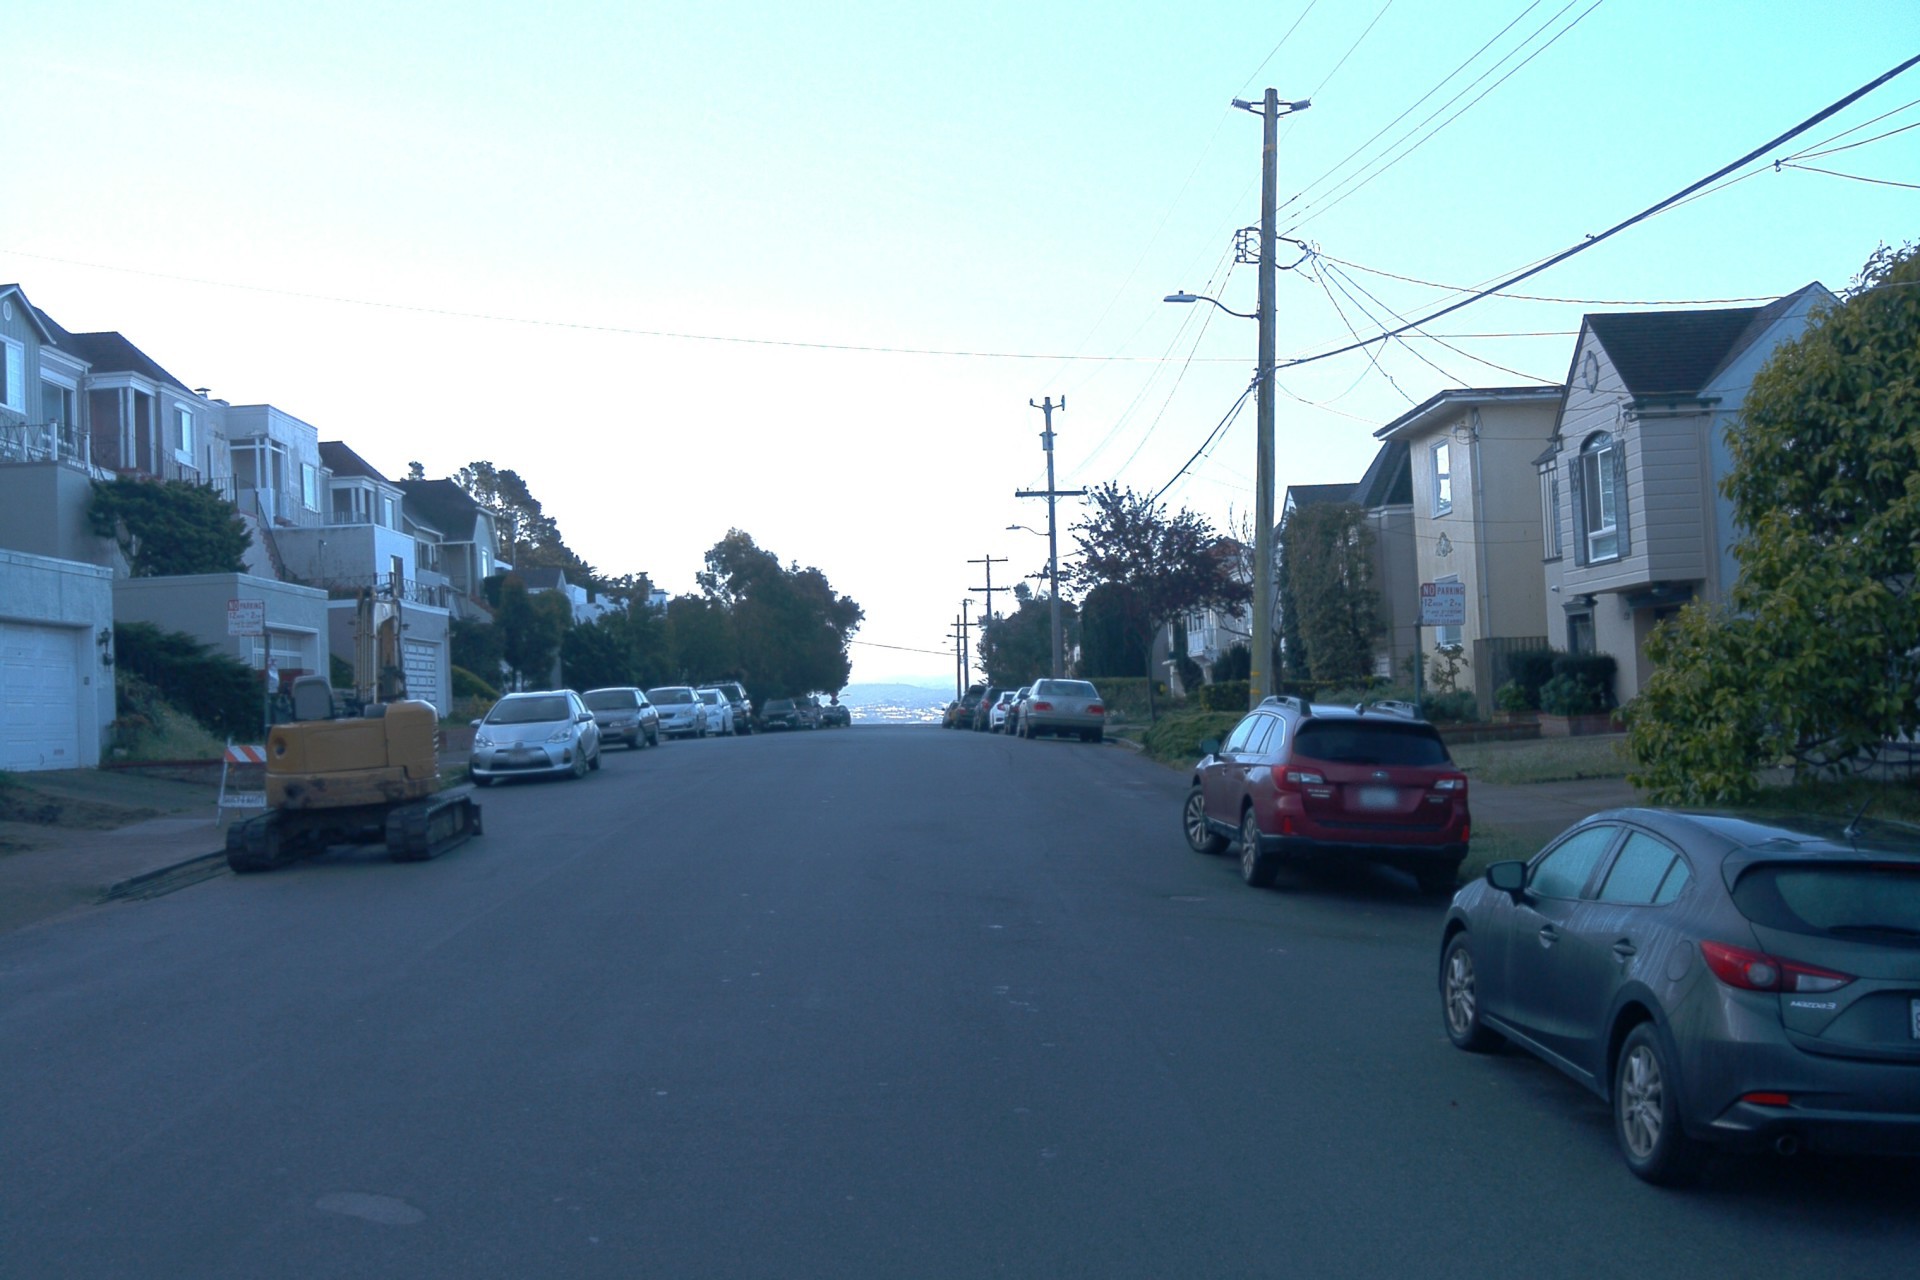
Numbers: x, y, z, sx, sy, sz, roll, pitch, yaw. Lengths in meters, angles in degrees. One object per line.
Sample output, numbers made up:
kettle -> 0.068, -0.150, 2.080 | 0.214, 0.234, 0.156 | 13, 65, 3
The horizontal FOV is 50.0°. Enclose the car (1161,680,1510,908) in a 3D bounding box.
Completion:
car -> 3.377, 1.325, 19.635 | 2.206, 1.800, 4.939 | 0, 0, -3

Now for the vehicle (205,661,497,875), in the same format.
vehicle -> -6.305, 1.267, 21.746 | 2.170, 2.050, 3.317 | 0, 0, -2

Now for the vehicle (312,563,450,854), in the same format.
vehicle -> -6.655, 0.749, 23.851 | 1.142, 3.170, 2.649 | 0, 0, -7

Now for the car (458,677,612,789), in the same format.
car -> -6.966, 1.488, 34.151 | 1.979, 1.670, 3.896 | 0, 0, -4
